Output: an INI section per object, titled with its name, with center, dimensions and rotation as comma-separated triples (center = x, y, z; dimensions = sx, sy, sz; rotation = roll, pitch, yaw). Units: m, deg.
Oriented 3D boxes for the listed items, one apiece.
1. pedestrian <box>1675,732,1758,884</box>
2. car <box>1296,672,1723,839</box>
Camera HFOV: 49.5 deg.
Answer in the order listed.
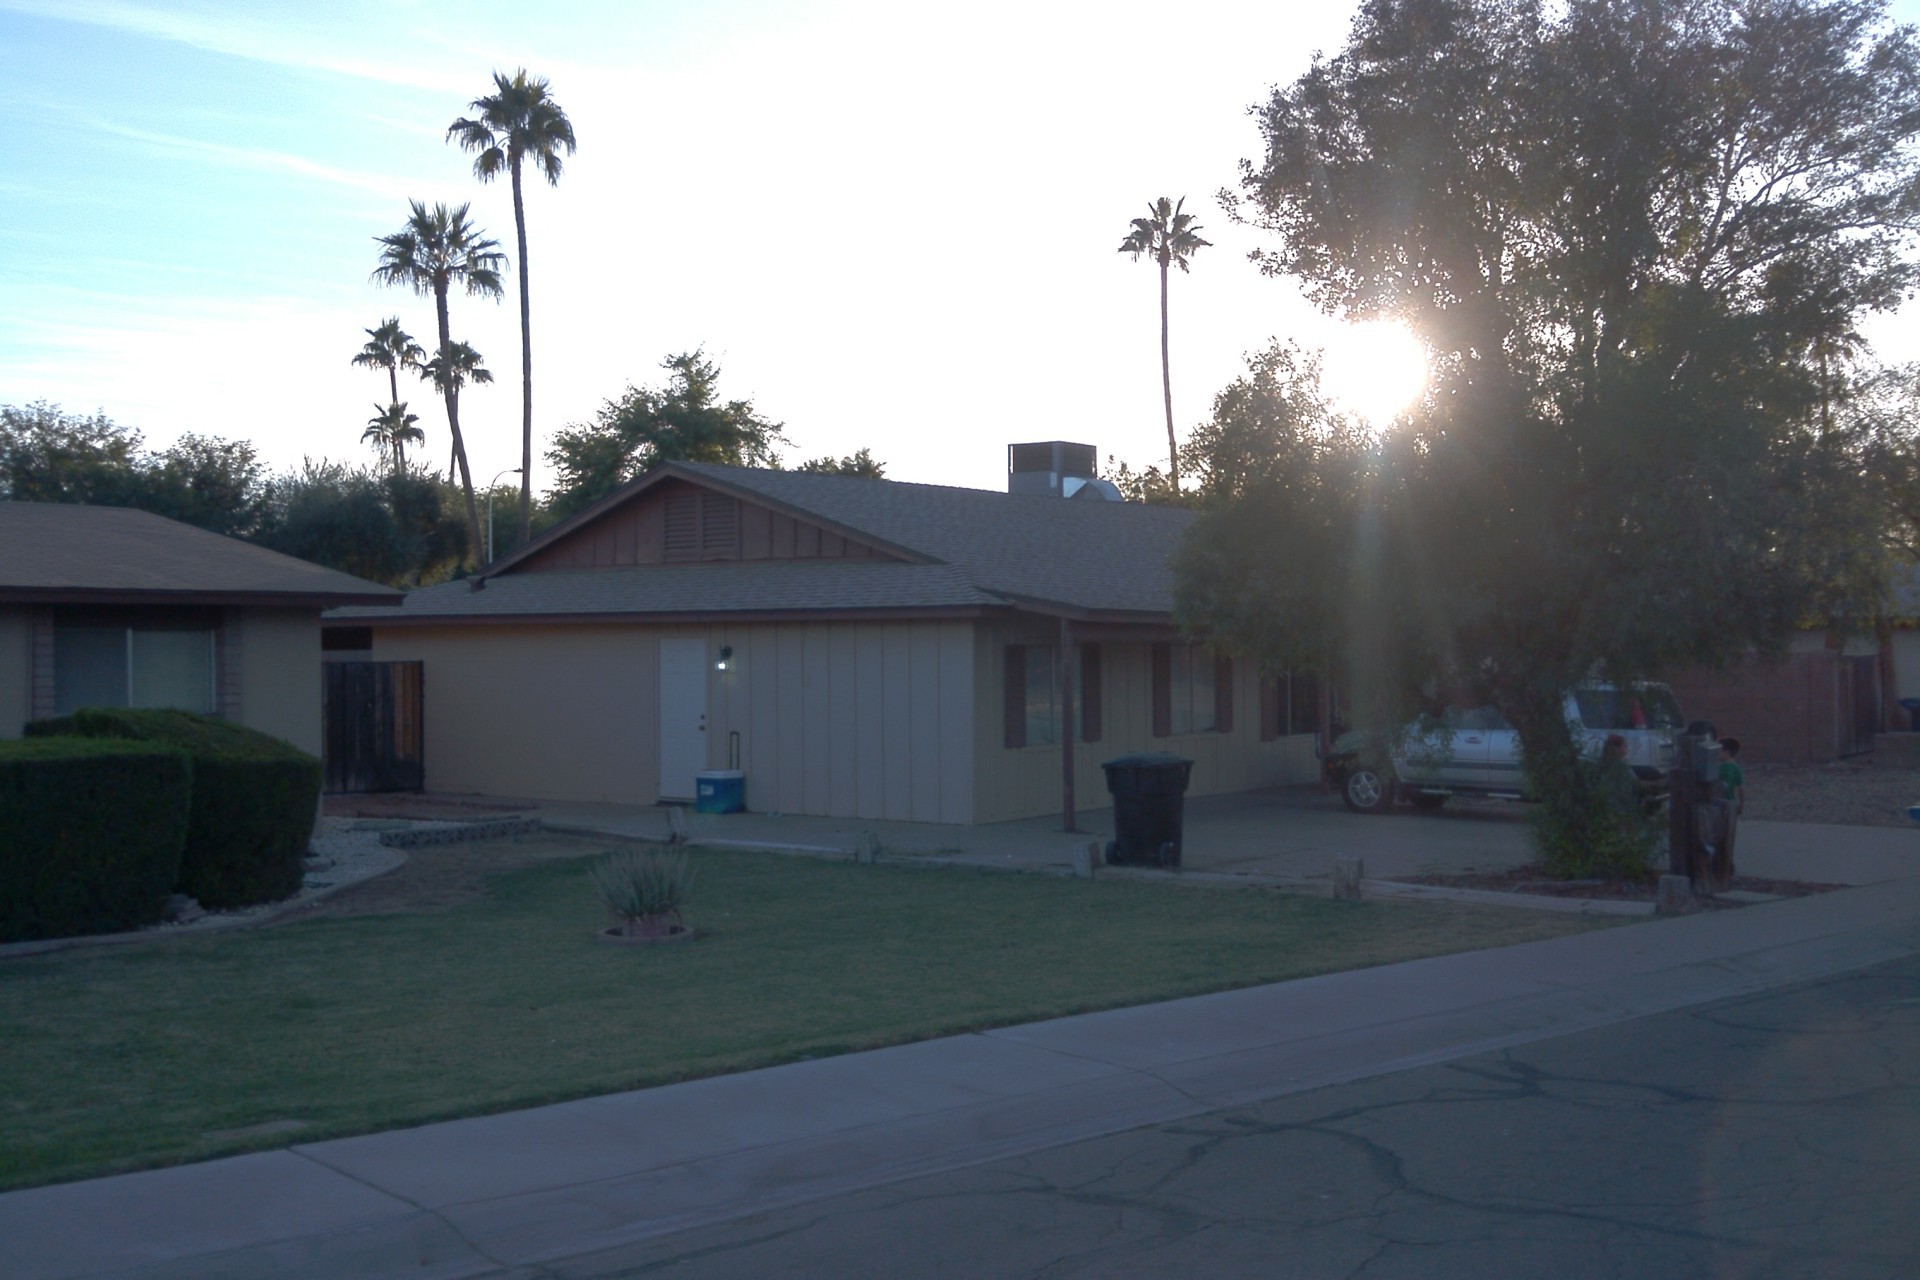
[pedestrian]
center = 6.757, 1.487, 18.617
dimensions = 0.660, 1.295, 0.585
rotation = 0, 0, 15
[car]
center = 6.400, 1.268, 24.452
dimensions = 4.367, 1.710, 2.082
rotation = 0, 0, 39
